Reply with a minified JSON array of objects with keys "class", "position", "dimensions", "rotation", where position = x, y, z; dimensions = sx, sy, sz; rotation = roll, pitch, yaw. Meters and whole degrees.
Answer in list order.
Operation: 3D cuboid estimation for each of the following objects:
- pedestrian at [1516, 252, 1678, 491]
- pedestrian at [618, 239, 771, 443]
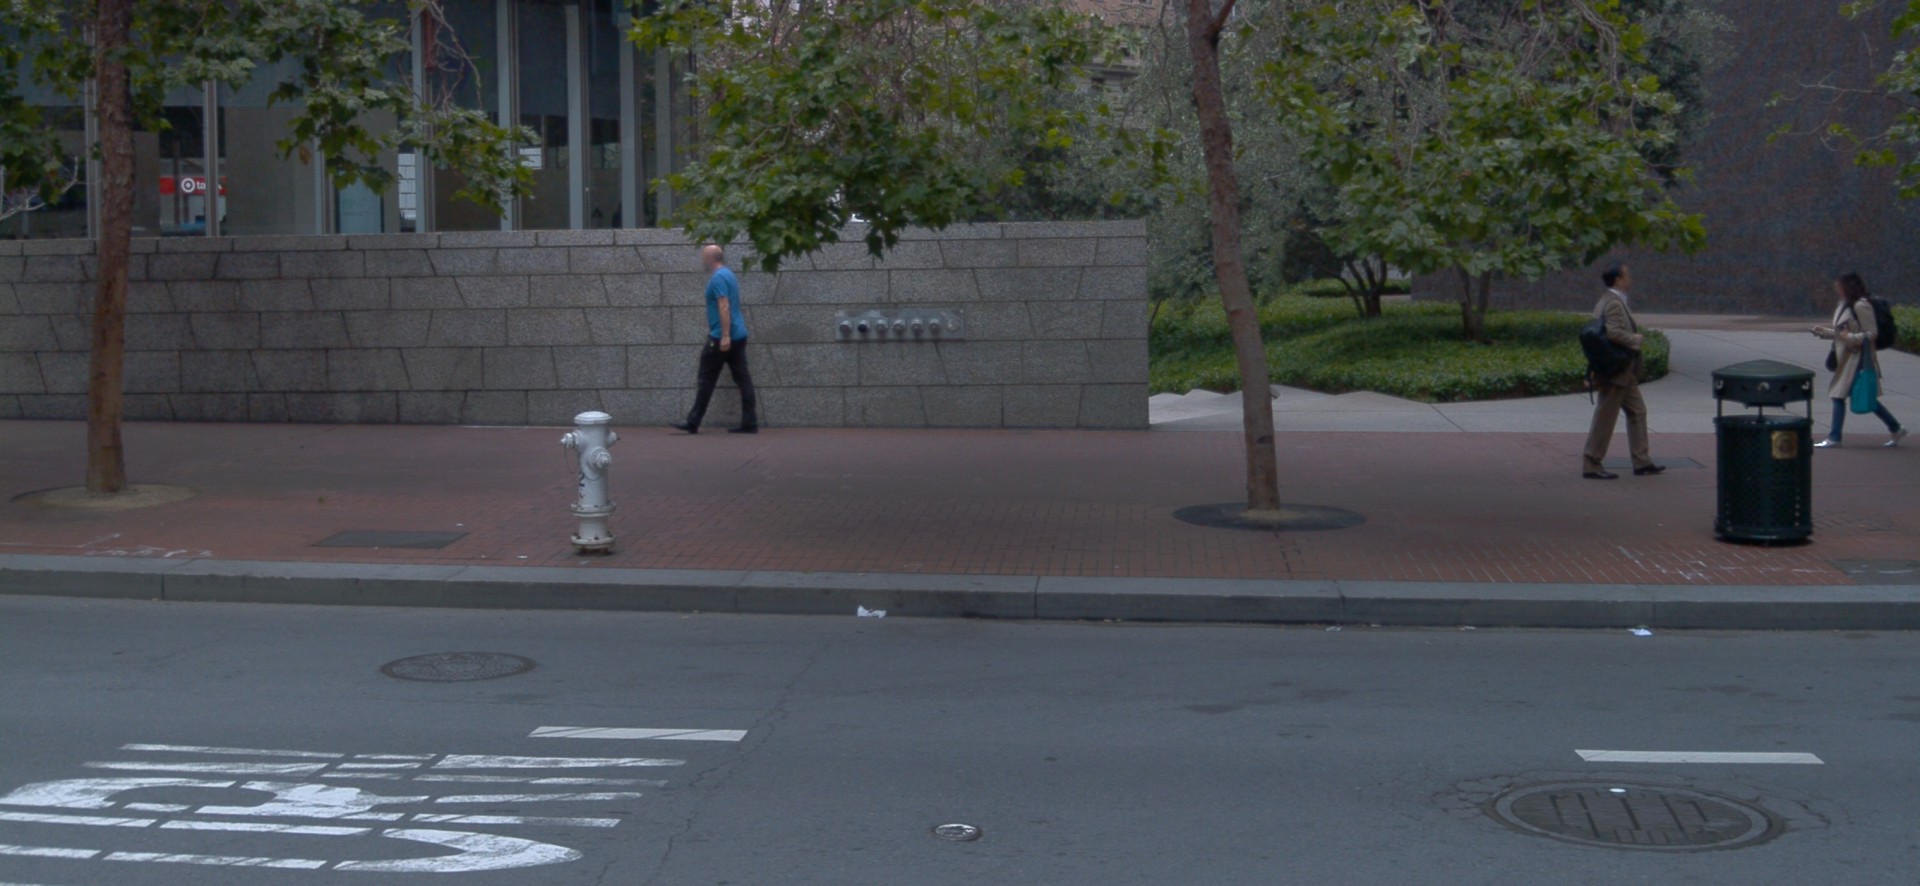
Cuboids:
[{"class":"pedestrian","position":[5.211,-0.617,17.027],"dimensions":[1.098,1.877,1.032],"rotation":[0,2,7]},{"class":"pedestrian","position":[-2.538,-1.007,19.915],"dimensions":[1.260,1.897,0.951],"rotation":[0,2,6]}]
